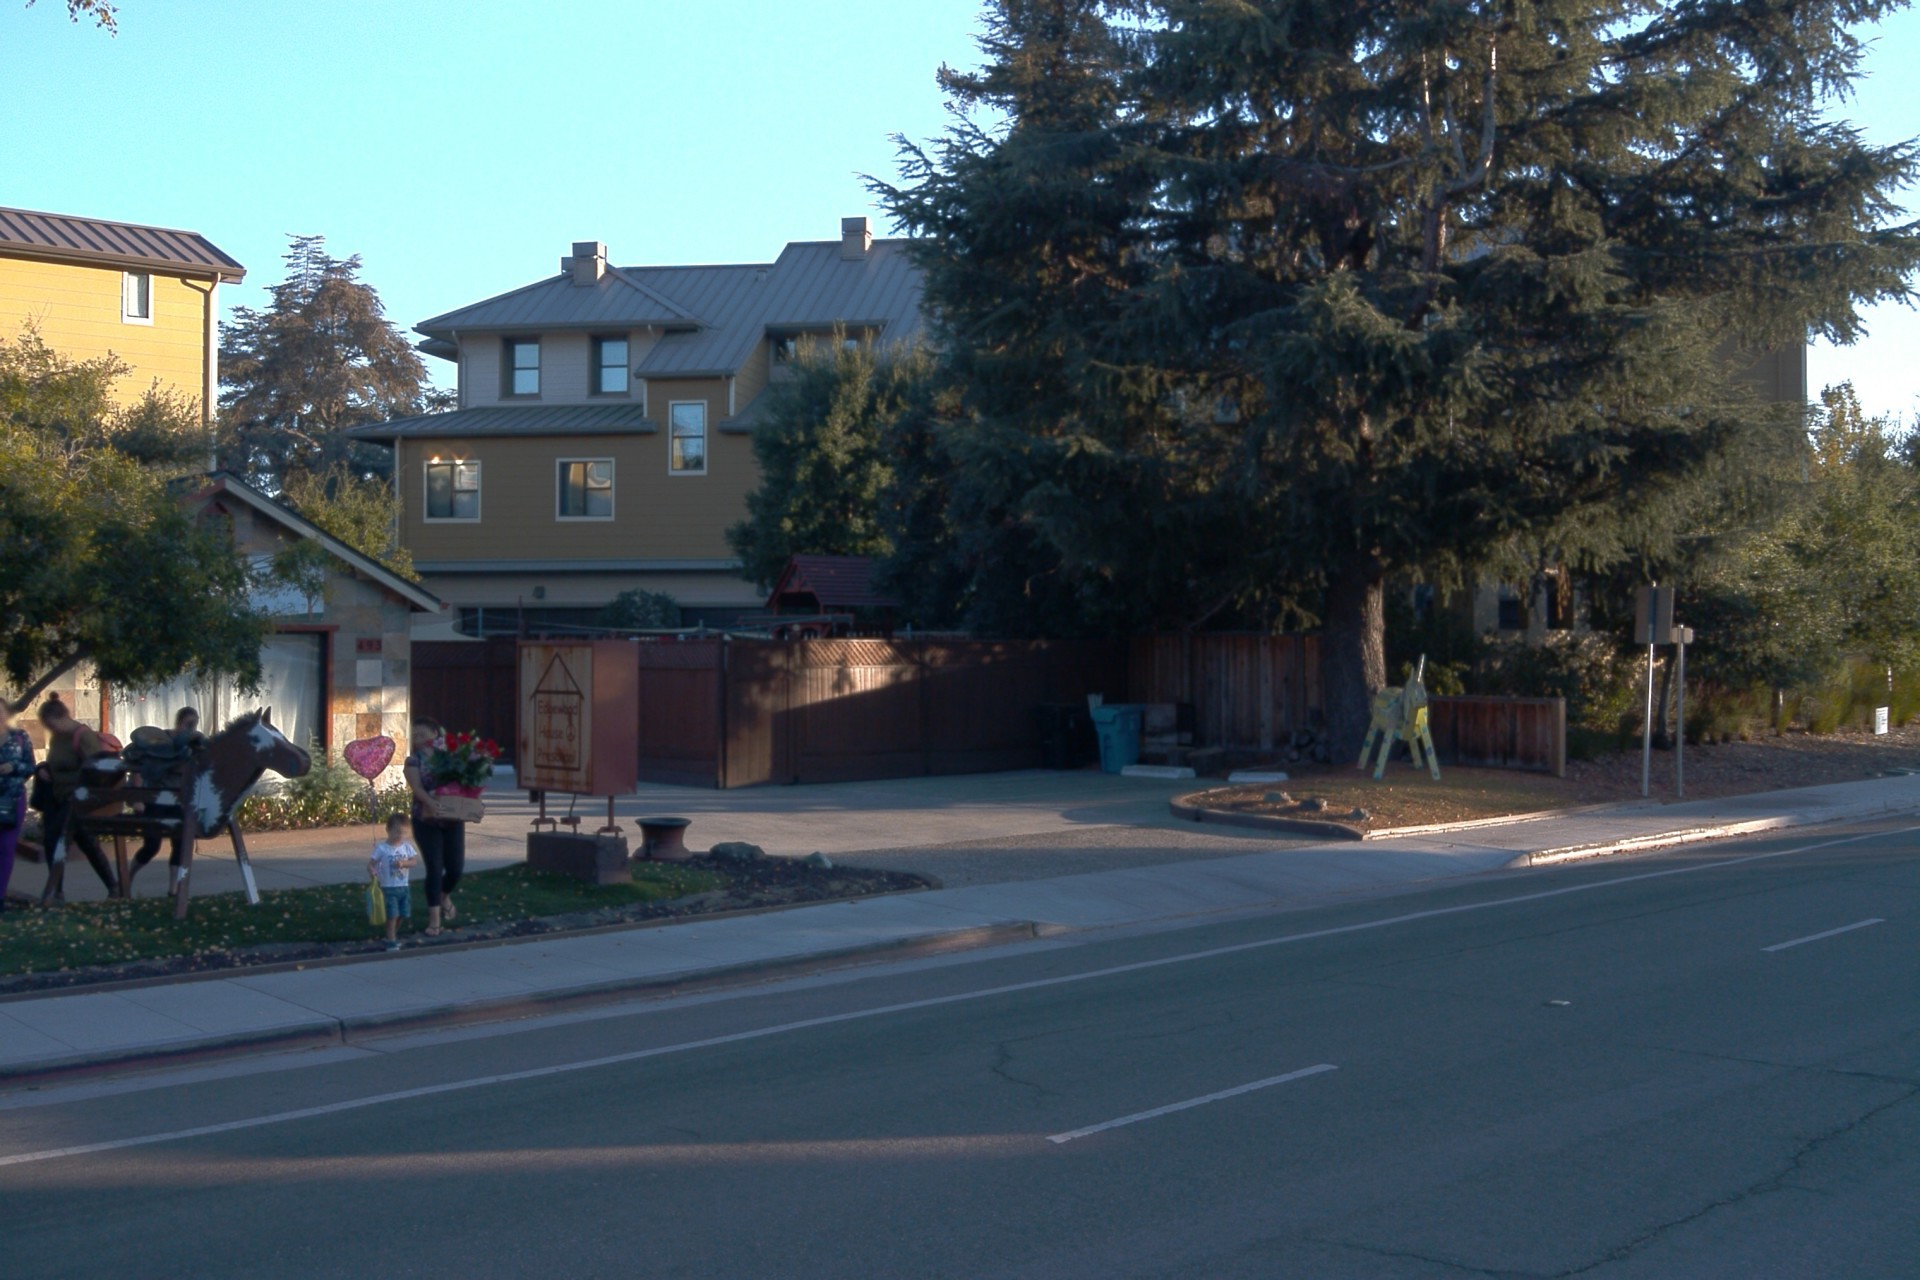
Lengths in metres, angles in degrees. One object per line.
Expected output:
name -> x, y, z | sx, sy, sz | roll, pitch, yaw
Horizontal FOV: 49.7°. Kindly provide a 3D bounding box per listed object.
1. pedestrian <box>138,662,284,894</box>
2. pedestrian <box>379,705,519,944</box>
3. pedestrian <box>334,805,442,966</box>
pedestrian -> -6.054, 1.091, 16.778 | 0.745, 1.810, 0.820 | 0, 0, 18
pedestrian -> -3.731, 1.308, 15.088 | 0.736, 1.630, 0.993 | 0, 0, -30
pedestrian -> -3.977, 1.690, 14.399 | 0.627, 1.010, 0.633 | 0, 0, -25
